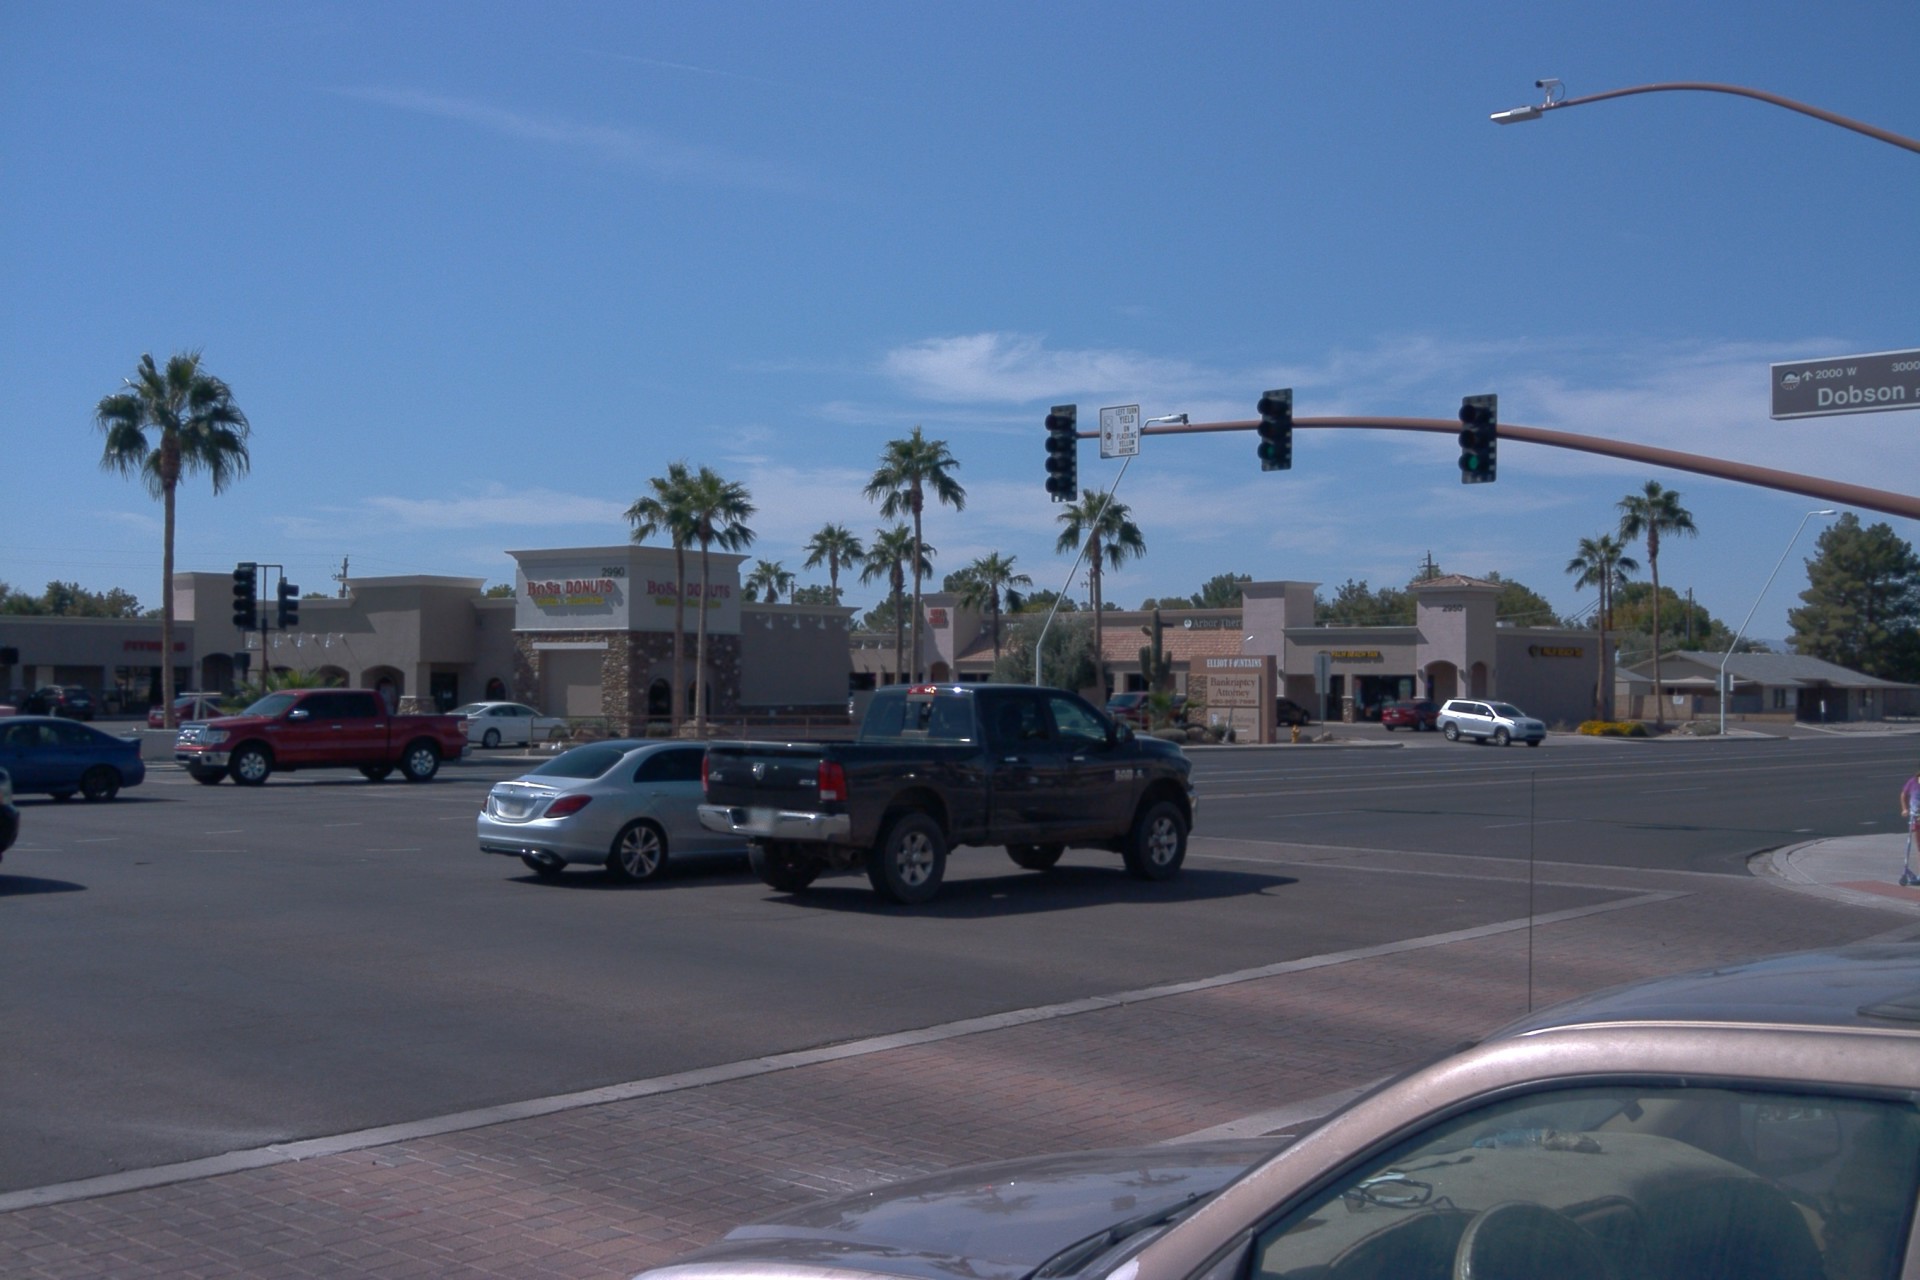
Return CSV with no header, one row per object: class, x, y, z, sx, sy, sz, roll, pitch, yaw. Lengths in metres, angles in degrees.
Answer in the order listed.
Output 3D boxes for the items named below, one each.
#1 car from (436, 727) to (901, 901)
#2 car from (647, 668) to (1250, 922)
car,-3.028,1.769,22.311,2.045,1.550,4.692,-1,-1,44
car,0.070,1.391,21.048,2.659,2.200,6.054,-1,-1,44
